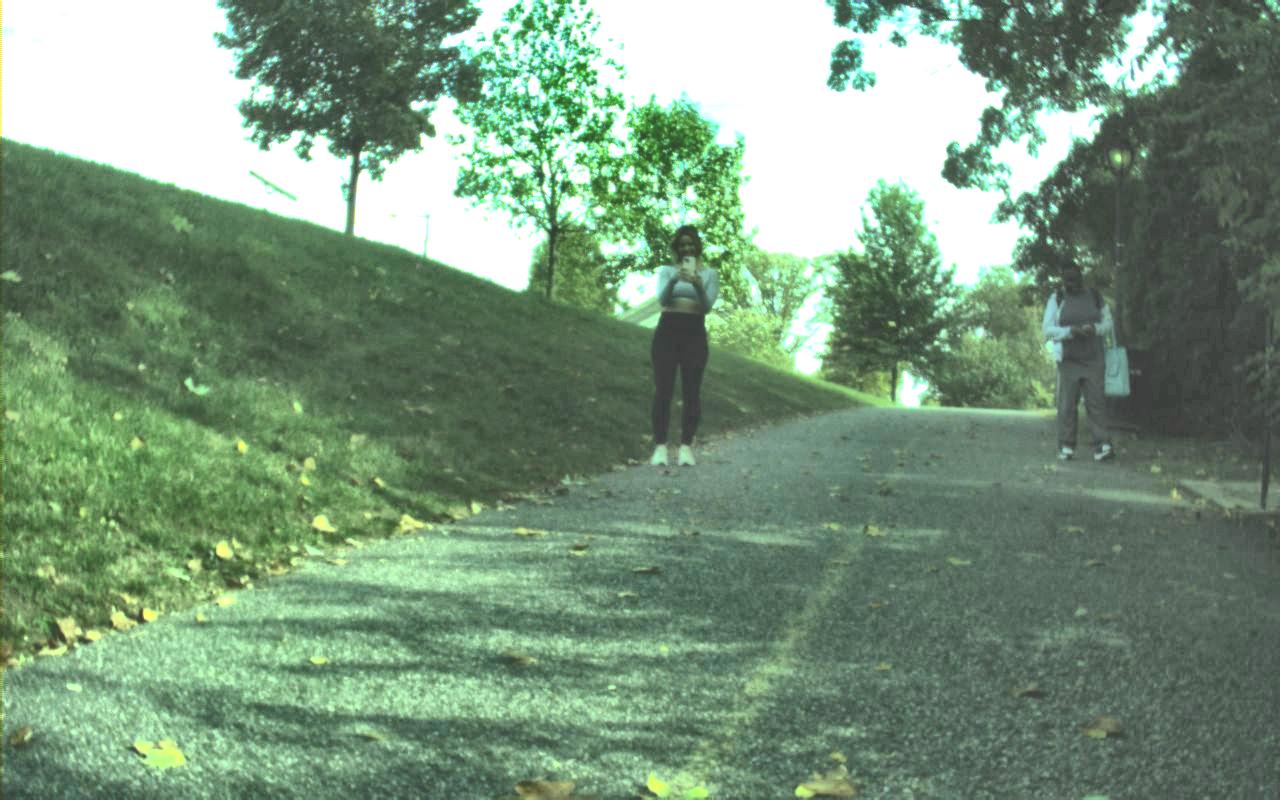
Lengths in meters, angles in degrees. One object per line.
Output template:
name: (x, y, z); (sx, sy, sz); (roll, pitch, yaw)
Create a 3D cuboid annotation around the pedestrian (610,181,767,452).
pedestrian: (0.338, -0.535, 8.371); (0.790, 1.692, 0.827); (1, 0, 23)

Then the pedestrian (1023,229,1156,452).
pedestrian: (3.737, -0.465, 9.919); (0.839, 1.750, 0.875); (0, 0, -44)
